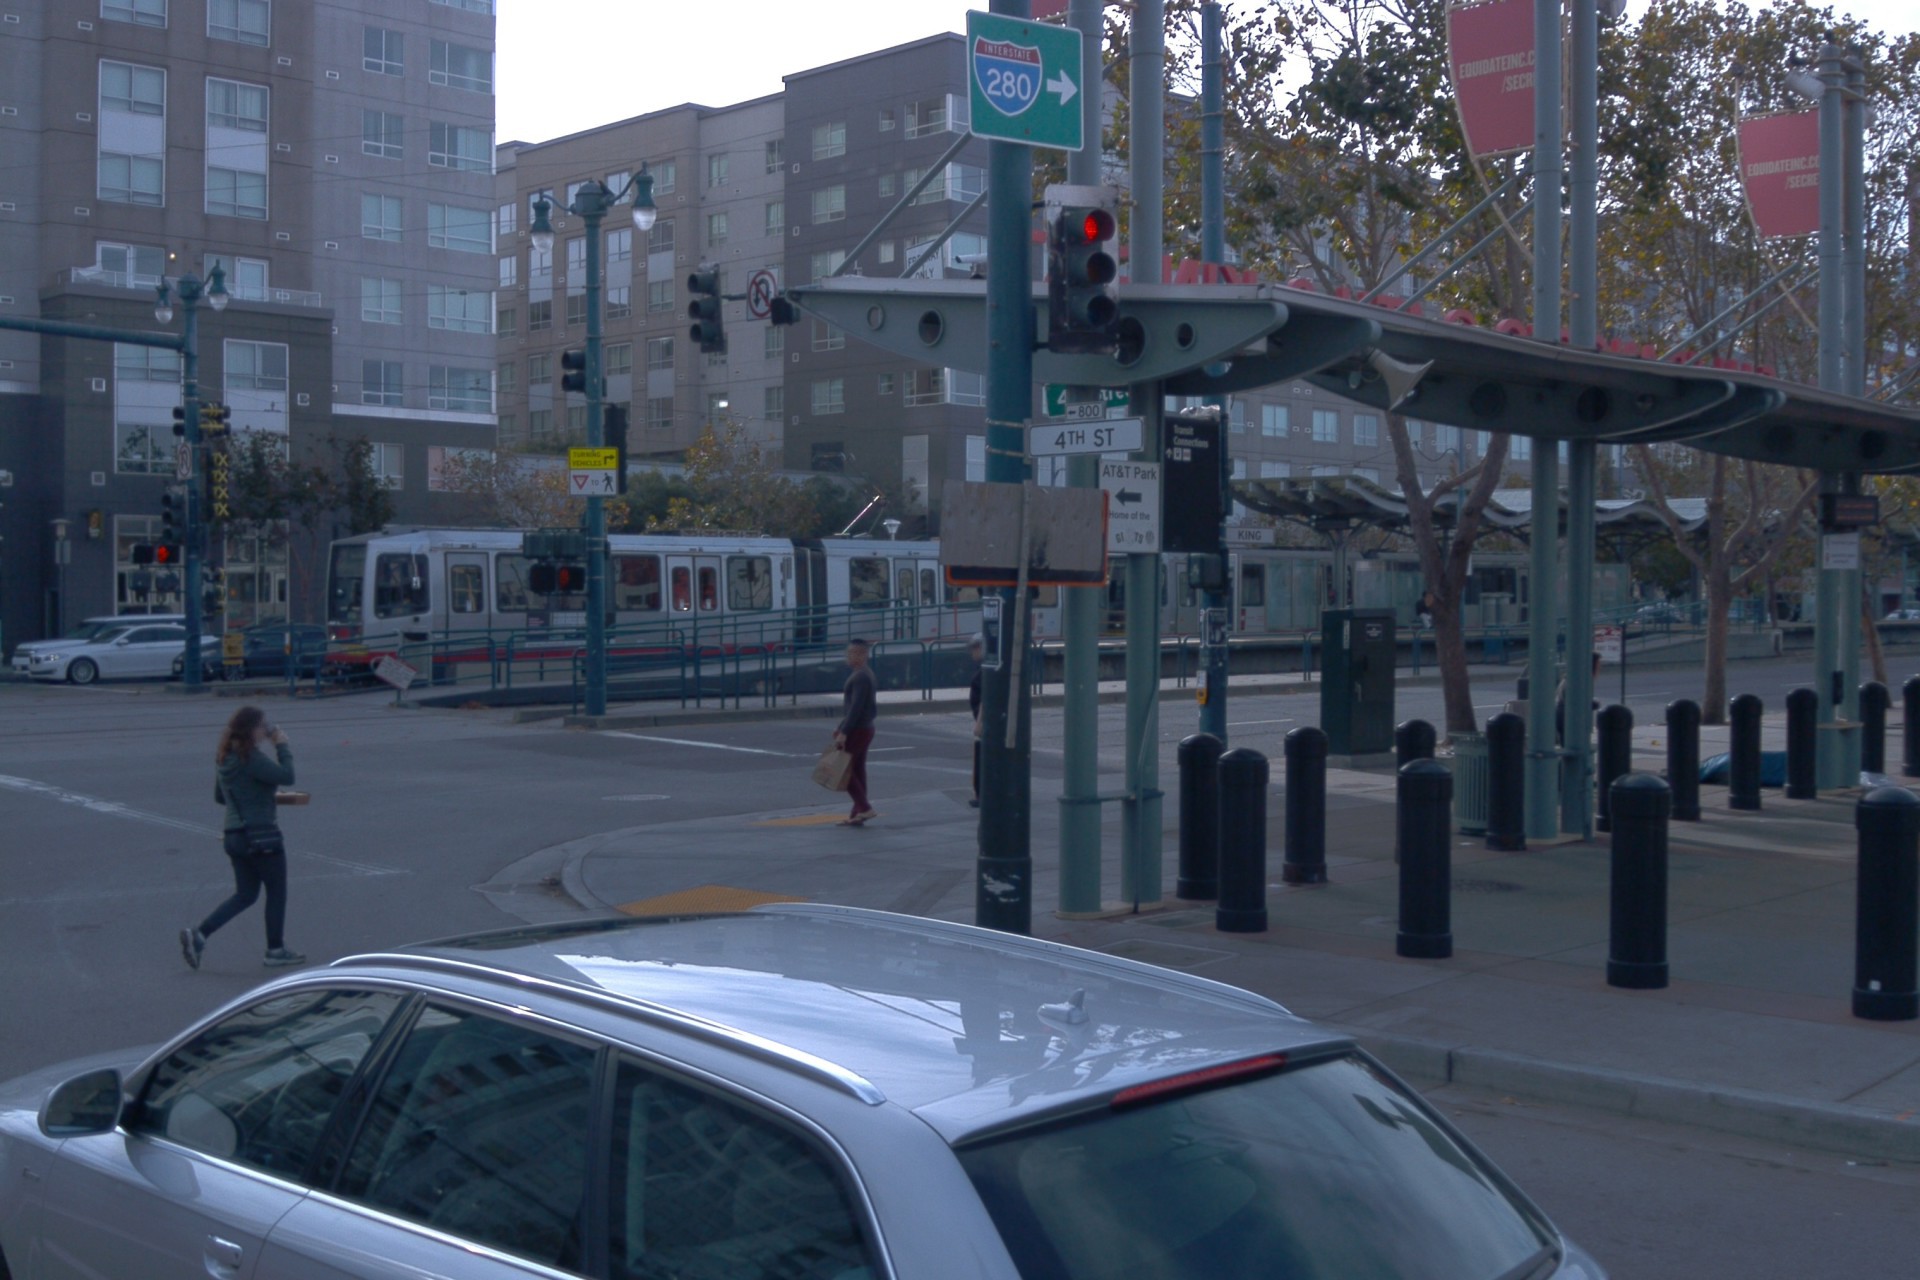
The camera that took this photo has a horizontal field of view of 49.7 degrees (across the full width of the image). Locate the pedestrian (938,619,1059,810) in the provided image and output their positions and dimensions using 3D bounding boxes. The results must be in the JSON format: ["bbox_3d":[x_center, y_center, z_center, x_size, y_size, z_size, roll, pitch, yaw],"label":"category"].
[{"bbox_3d":[0.392,0.728,20.817,0.867,1.858,0.865,1,0,31],"label":"pedestrian"}]

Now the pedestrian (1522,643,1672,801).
[{"bbox_3d":[6.687,0.842,21.800,1.218,1.605,1.169,1,0,2],"label":"pedestrian"}]

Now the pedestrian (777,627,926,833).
[{"bbox_3d":[-0.989,0.803,19.002,0.980,1.819,0.928,1,0,32],"label":"pedestrian"}]

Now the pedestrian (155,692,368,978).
[{"bbox_3d":[-4.272,1.154,12.689,0.678,1.642,1.016,1,0,45],"label":"pedestrian"}]
